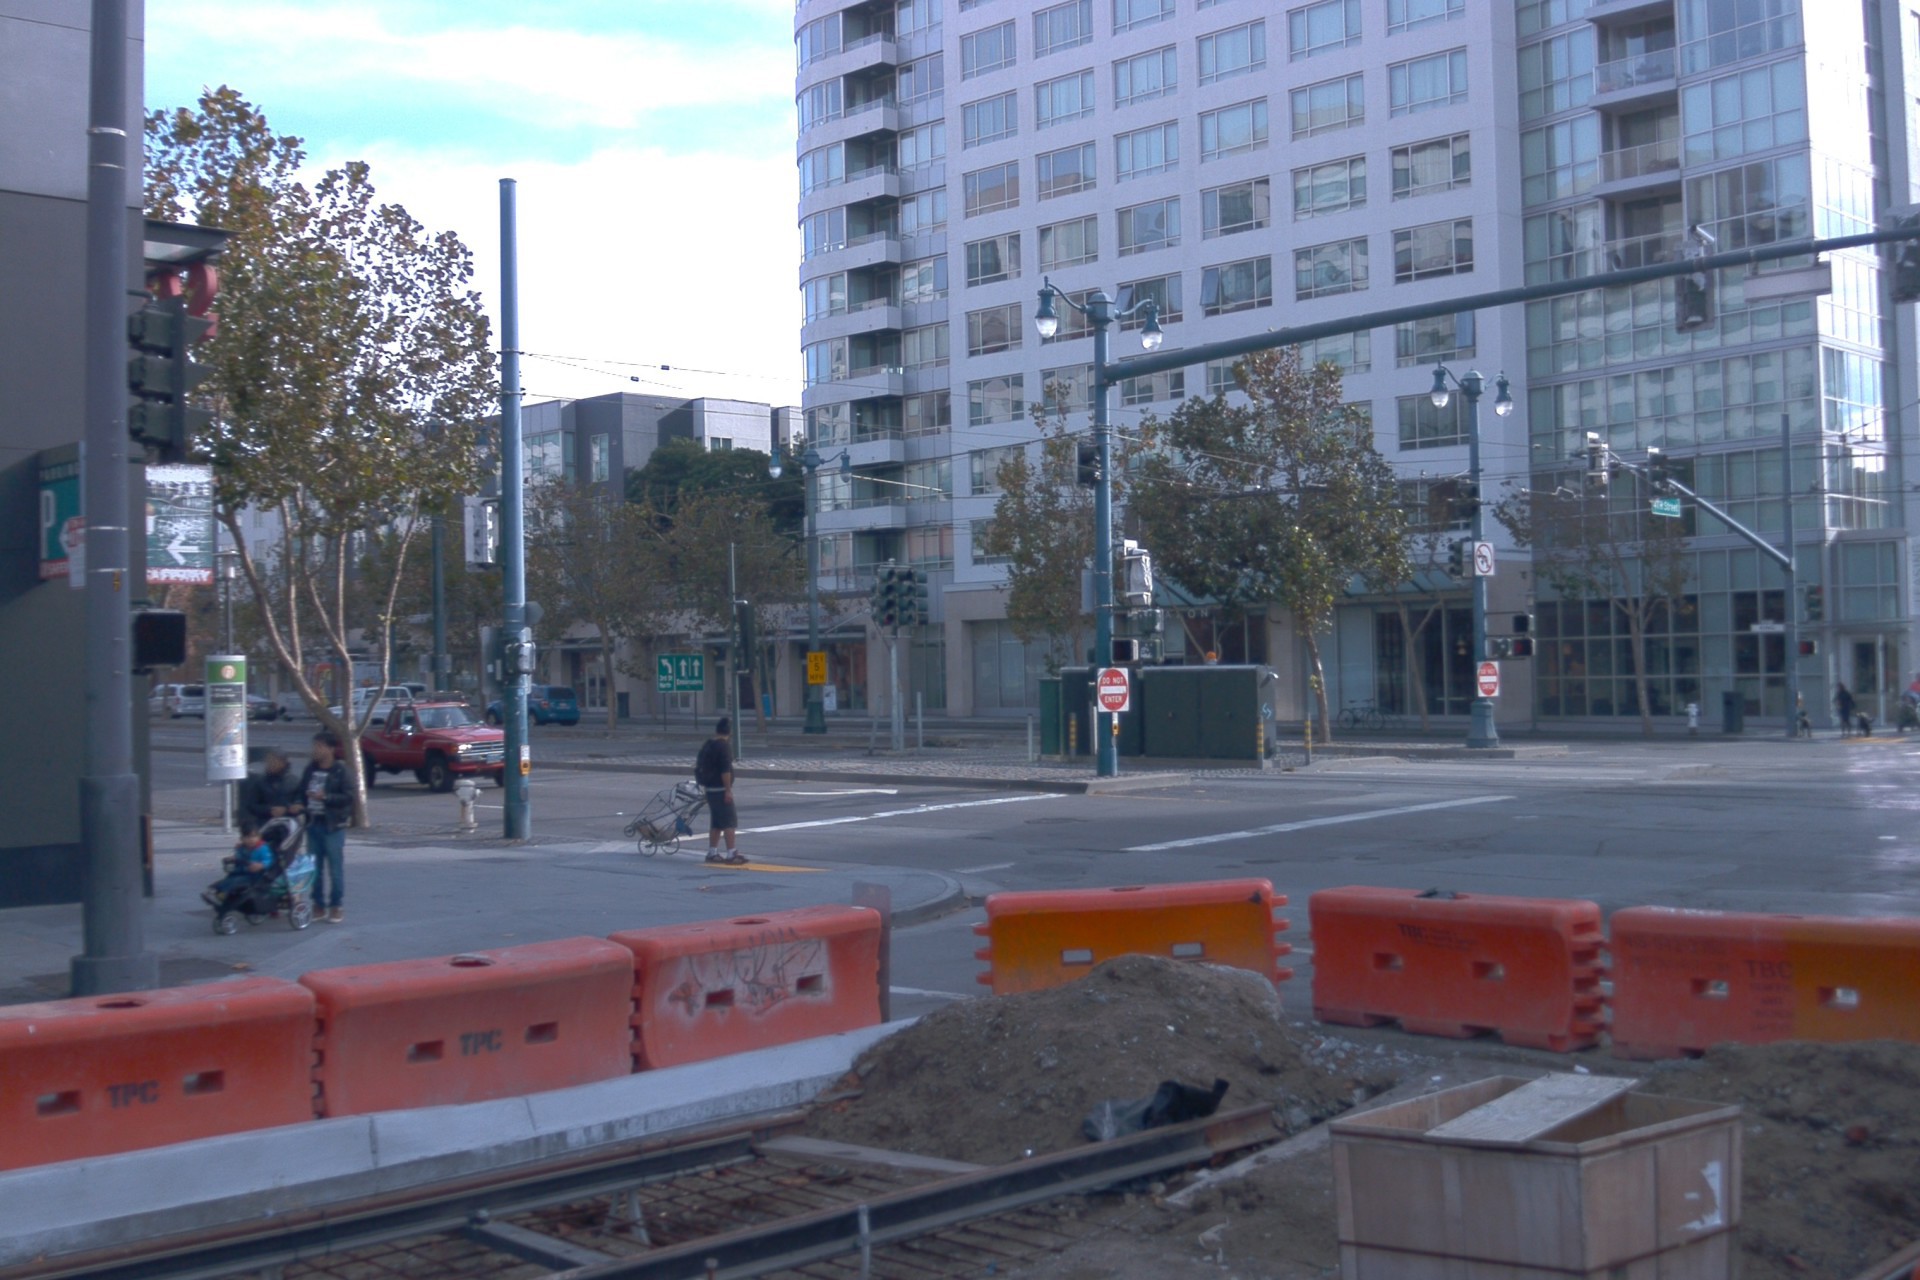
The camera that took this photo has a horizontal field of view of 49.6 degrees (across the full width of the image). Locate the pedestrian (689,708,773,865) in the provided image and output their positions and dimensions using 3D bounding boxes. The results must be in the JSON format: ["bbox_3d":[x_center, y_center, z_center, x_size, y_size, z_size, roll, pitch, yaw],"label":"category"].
[{"bbox_3d":[-2.775,1.750,25.101,0.938,1.830,0.985,0,-1,-10],"label":"pedestrian"}]

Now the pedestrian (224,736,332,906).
[{"bbox_3d":[-6.130,1.607,18.693,0.663,1.460,0.720,0,-1,7],"label":"pedestrian"}]

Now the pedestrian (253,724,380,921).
[{"bbox_3d":[-5.683,1.590,18.373,0.747,1.660,0.768,0,-1,18],"label":"pedestrian"}]

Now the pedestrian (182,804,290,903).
[{"bbox_3d":[-6.123,1.798,17.587,0.485,0.752,0.722,0,-1,27],"label":"pedestrian"}]
